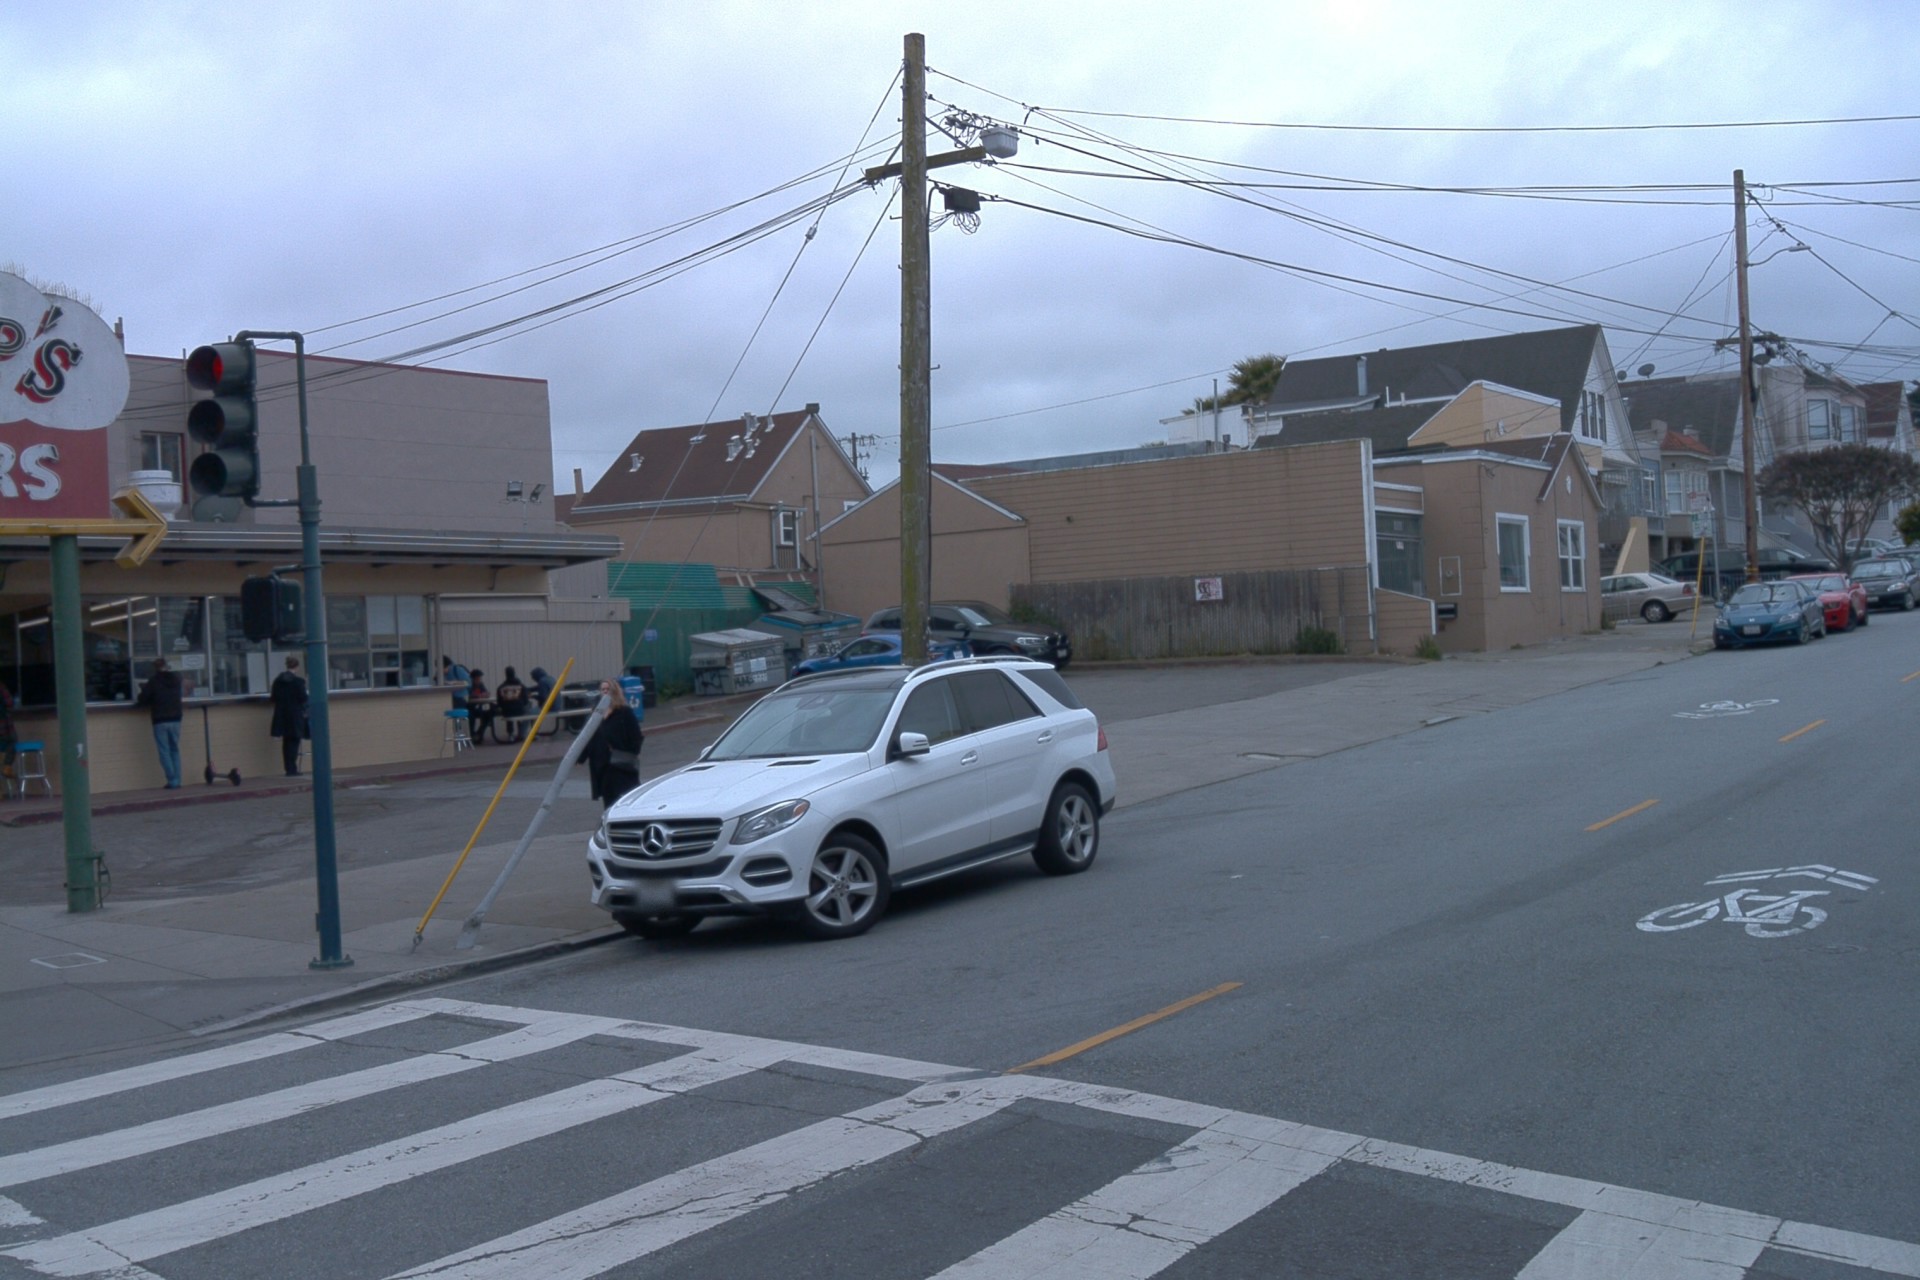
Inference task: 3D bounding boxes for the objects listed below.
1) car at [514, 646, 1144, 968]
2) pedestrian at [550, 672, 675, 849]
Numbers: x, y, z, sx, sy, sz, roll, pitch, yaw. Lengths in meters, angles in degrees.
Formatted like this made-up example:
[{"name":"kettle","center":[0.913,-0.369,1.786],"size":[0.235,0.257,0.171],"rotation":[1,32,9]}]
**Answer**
[{"name":"car","center":[-0.775,1.055,15.622],"size":[2.251,1.960,4.887],"rotation":[0,1,34]},{"name":"pedestrian","center":[-3.422,1.161,20.372],"size":[0.829,1.670,0.886],"rotation":[0,1,35]}]
